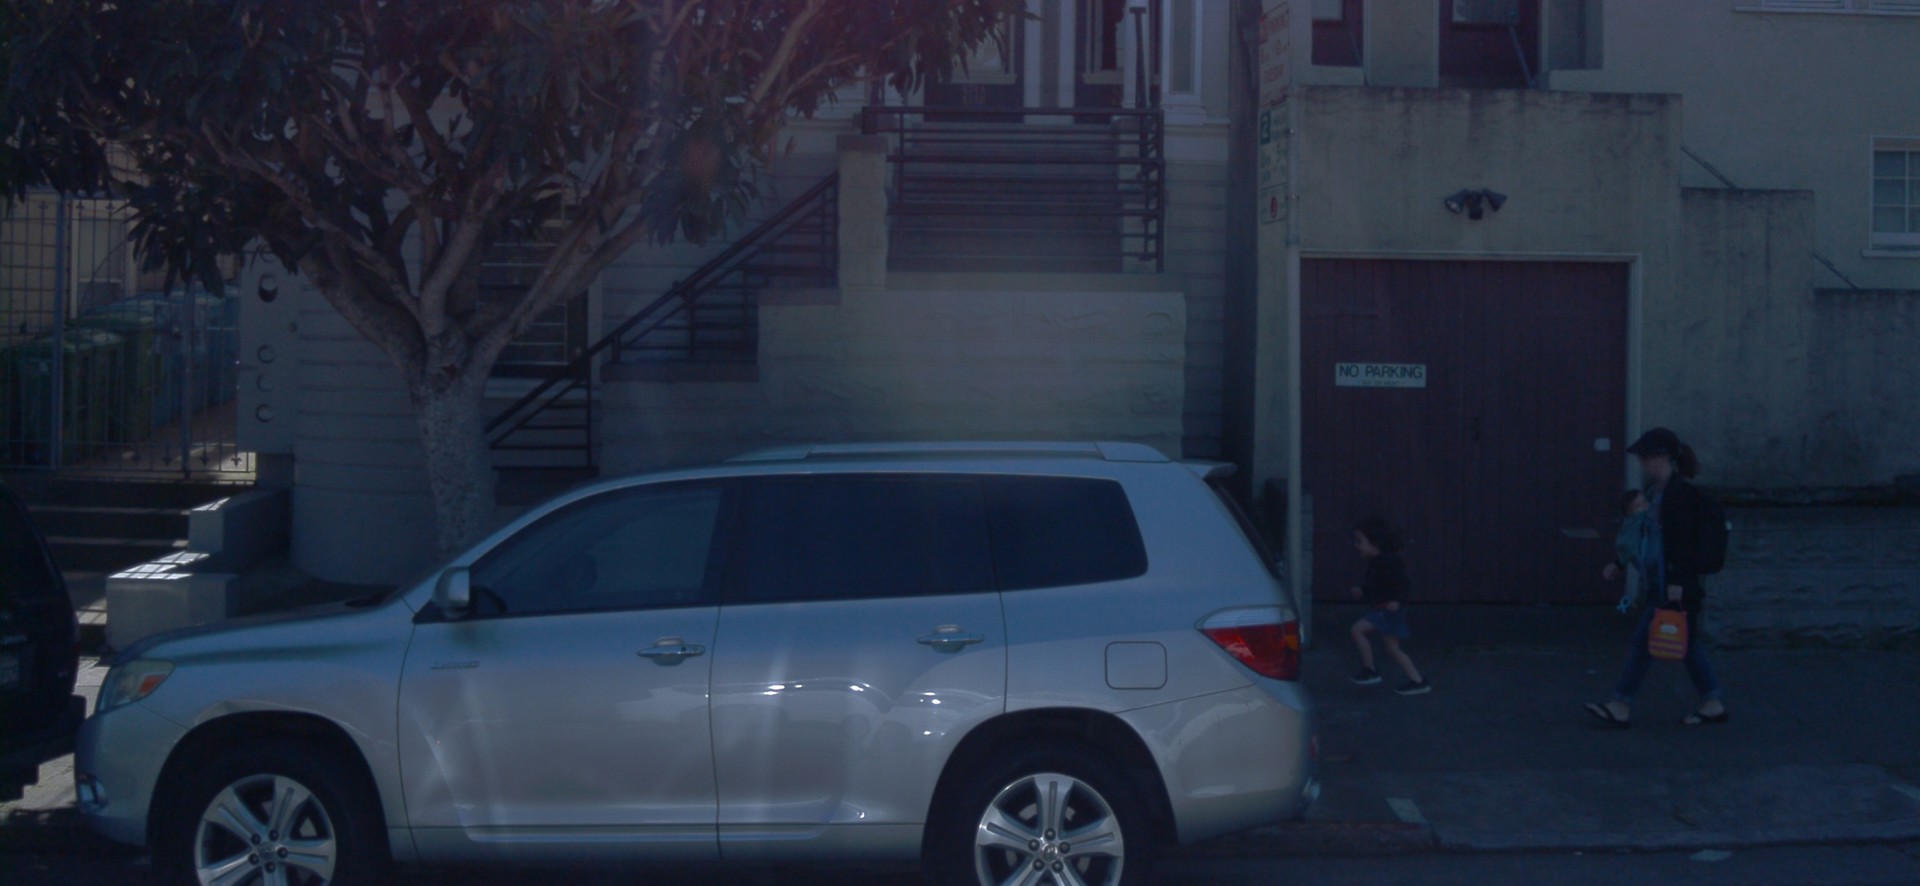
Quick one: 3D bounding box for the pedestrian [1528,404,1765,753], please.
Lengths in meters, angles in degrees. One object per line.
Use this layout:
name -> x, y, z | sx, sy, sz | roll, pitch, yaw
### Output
pedestrian -> 3.534, 0.664, 10.662 | 0.970, 1.626, 0.918 | 0, 3, 5

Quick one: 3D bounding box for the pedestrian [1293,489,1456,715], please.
pedestrian -> 2.276, 0.862, 11.351 | 0.758, 1.117, 0.684 | 0, 3, 0
